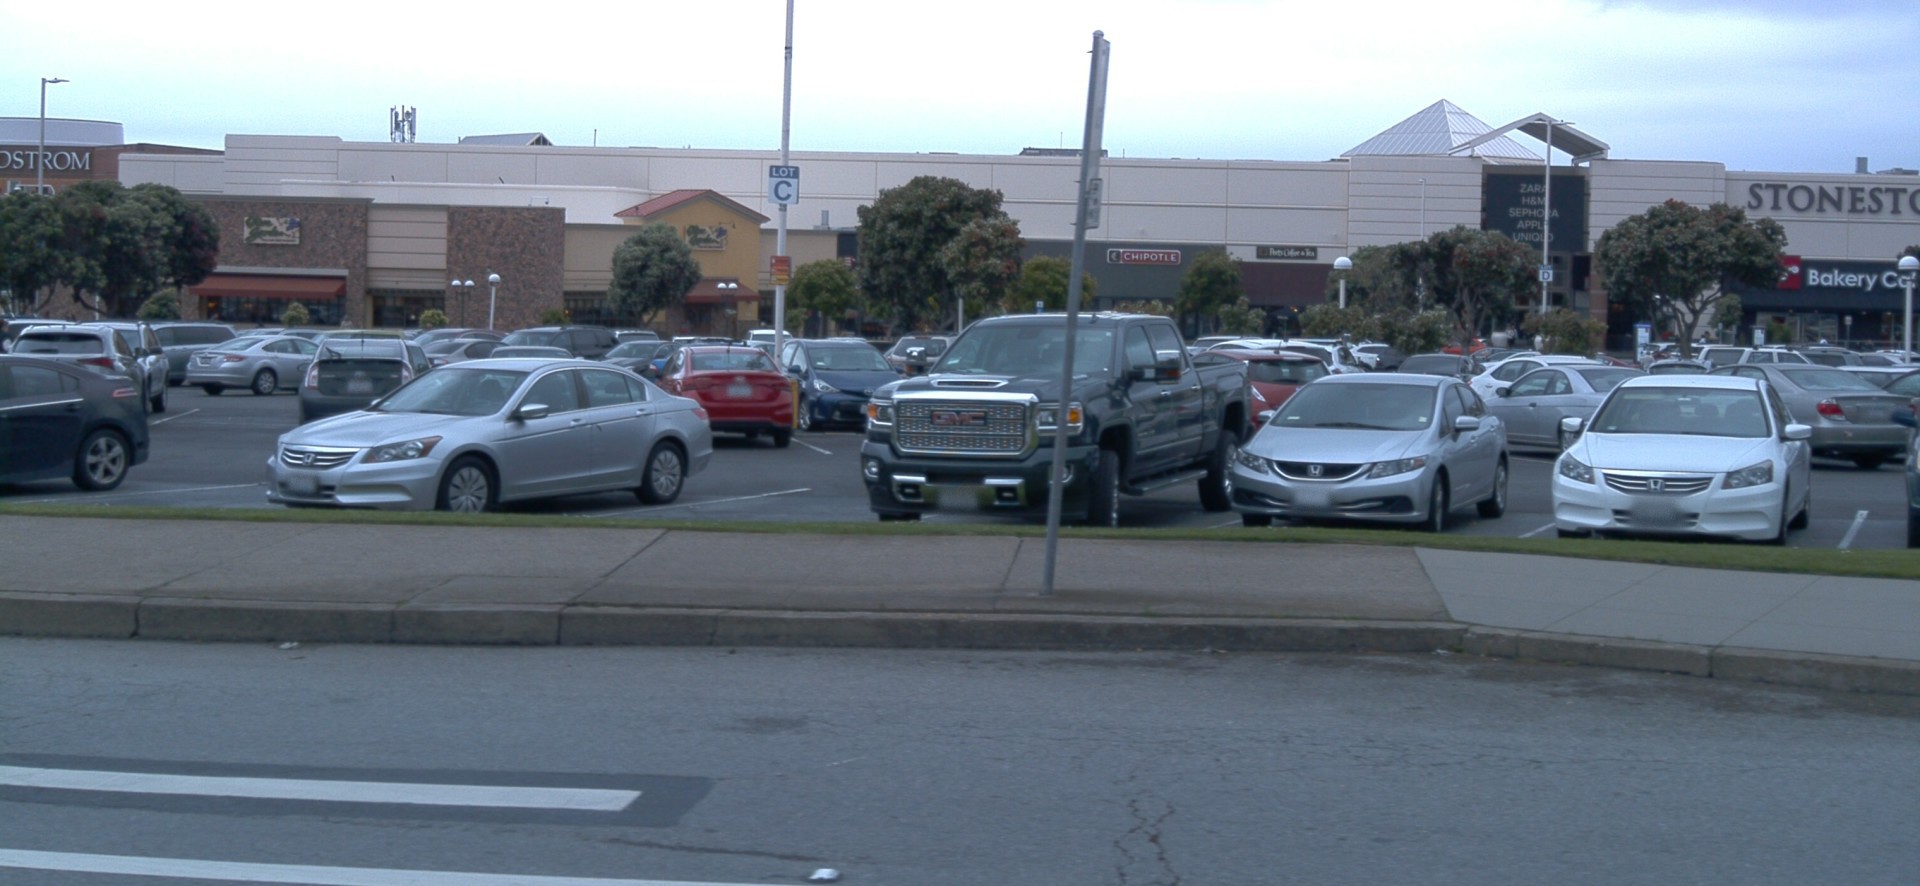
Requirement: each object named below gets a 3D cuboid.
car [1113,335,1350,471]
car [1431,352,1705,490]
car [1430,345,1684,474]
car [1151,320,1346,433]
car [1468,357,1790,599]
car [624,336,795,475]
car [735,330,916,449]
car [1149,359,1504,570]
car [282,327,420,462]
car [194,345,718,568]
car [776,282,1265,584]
[{"bbox_3d":[3.873,-0.661,30.006,1.992,1.624,4.098,-1,5,-16],"label":"car"},{"bbox_3d":[8.707,-0.399,29.835,1.943,1.594,4.266,-1,5,-14],"label":"car"},{"bbox_3d":[10.108,-0.647,35.205,2.206,1.792,4.418,-1,5,-15],"label":"car"},{"bbox_3d":[4.954,-1.223,35.850,1.956,1.661,4.232,-1,5,-14],"label":"car"},{"bbox_3d":[6.181,0.165,18.582,2.121,1.584,4.735,2,5,26],"label":"car"},{"bbox_3d":[-3.828,-0.643,30.748,1.948,1.694,4.372,-1,5,-15],"label":"car"},{"bbox_3d":[-2.443,-1.004,35.954,2.056,1.691,4.698,-1,5,-18],"label":"car"},{"bbox_3d":[3.591,0.075,19.376,2.110,1.443,4.511,2,6,26],"label":"car"},{"bbox_3d":[-9.455,-0.829,32.110,1.933,1.754,4.215,-1,5,-15],"label":"car"},{"bbox_3d":[-4.592,-0.018,19.590,2.097,1.554,4.922,2,6,28],"label":"car"},{"bbox_3d":[0.844,-0.338,19.273,2.633,2.192,6.101,1,5,22],"label":"car"}]
